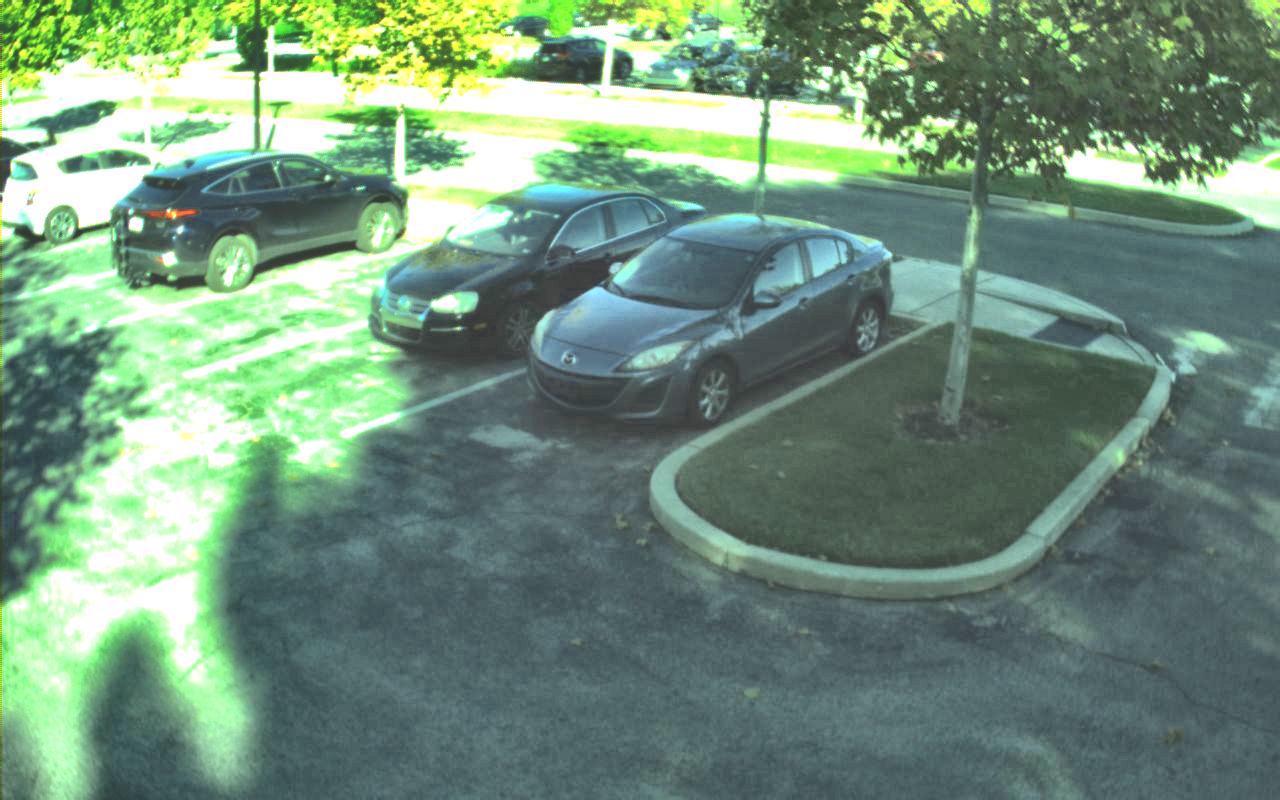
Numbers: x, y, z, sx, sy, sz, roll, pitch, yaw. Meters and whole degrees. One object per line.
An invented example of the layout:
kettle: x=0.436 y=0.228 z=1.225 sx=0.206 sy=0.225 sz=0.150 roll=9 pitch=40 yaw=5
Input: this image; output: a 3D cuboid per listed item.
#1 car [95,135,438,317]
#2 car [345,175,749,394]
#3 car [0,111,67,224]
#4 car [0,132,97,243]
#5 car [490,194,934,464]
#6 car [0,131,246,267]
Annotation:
car: x=-5.082 y=-2.528 z=16.599 sx=1.969 sy=1.702 sz=4.627 roll=10 pitch=20 yaw=34
car: x=-0.892 y=-1.454 z=13.919 sx=1.909 sy=1.509 sz=4.386 roll=13 pitch=22 yaw=40
car: x=-15.436 y=-5.229 z=24.484 sx=2.031 sy=1.777 sz=4.783 roll=12 pitch=21 yaw=38
car: x=-13.582 y=-4.396 z=22.786 sx=1.933 sy=1.557 sz=4.479 roll=12 pitch=21 yaw=38
car: x=0.894 y=-0.899 z=12.011 sx=1.908 sy=1.506 sz=4.447 roll=13 pitch=22 yaw=40
car: x=-9.177 y=-3.553 z=20.079 sx=1.939 sy=1.647 sz=4.456 roll=12 pitch=21 yaw=37
